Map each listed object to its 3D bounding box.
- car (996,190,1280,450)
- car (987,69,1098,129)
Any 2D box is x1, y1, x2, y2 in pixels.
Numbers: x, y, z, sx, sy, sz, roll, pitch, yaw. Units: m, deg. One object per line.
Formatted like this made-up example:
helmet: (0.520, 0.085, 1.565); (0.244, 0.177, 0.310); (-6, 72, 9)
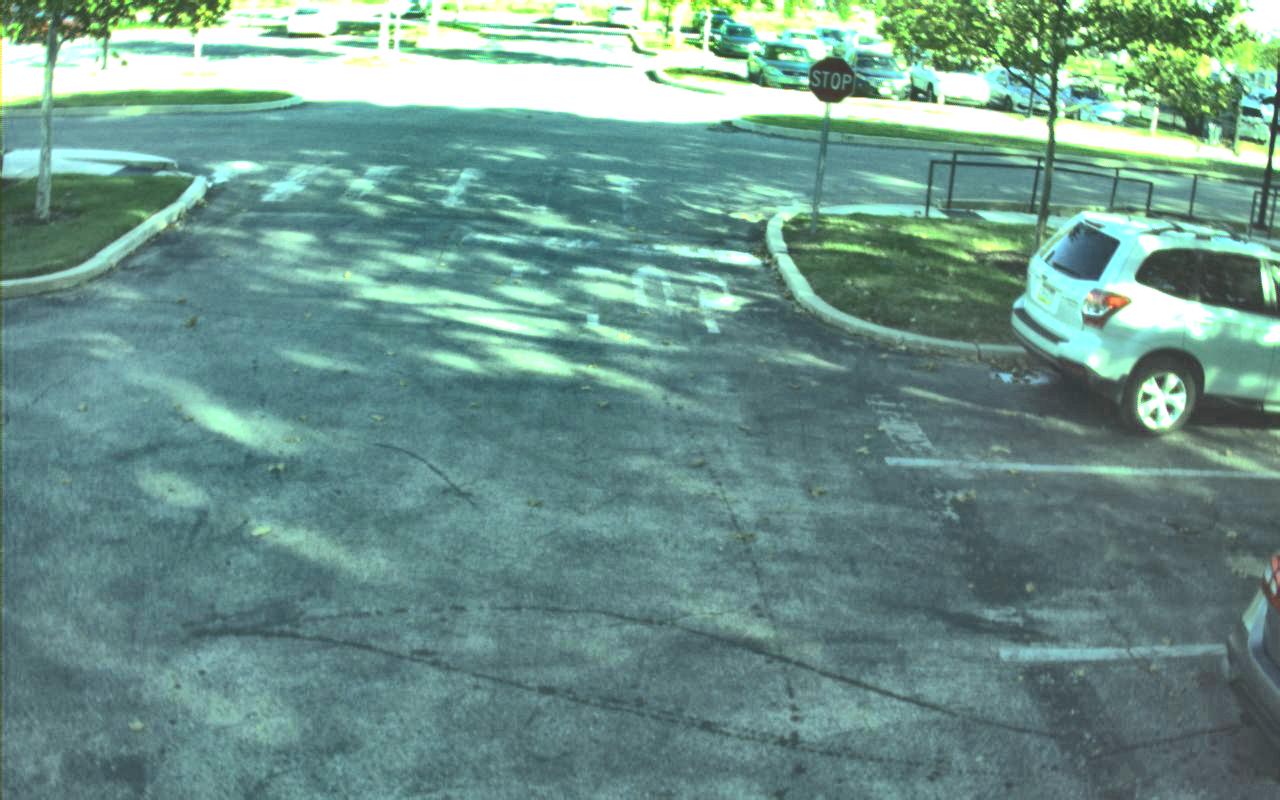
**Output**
car: (5.530, -0.804, 10.271); (4.427, 1.781, 1.969); (-2, 16, -3)
car: (13.167, -9.882, 39.044); (1.949, 1.619, 4.478); (-4, 17, -8)
